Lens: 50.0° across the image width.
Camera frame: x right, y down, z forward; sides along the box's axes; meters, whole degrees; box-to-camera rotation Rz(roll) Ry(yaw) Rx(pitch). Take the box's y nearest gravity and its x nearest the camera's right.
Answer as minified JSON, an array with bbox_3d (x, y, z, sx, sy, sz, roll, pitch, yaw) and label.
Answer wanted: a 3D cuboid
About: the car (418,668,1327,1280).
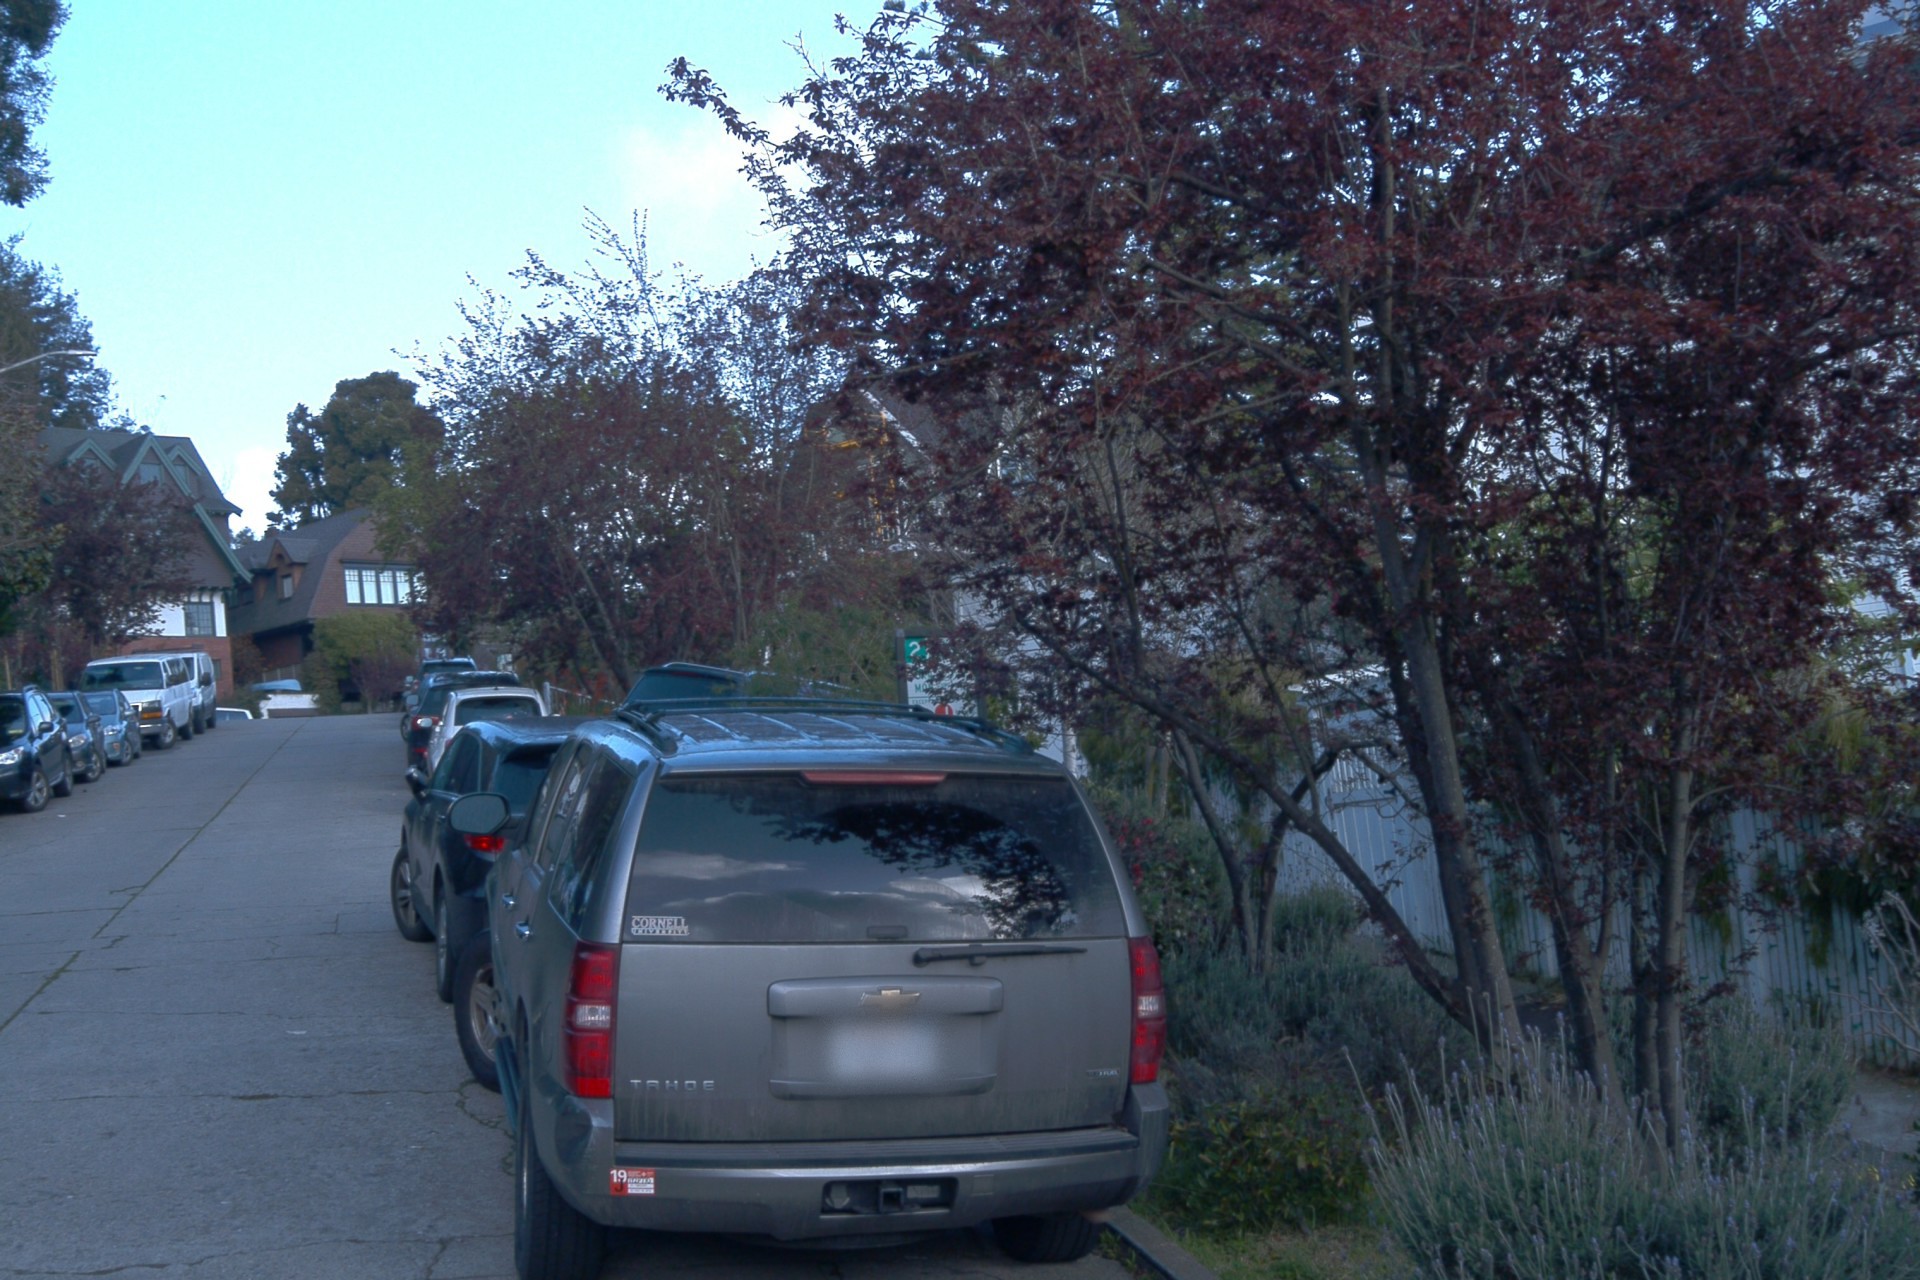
[{"bbox_3d":[-0.837,1.152,8.426,2.552,2.010,5.244,0,0,-16],"label":"car"}]

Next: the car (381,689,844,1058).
[{"bbox_3d":[-2.512,1.284,13.511,2.261,1.805,5.057,0,0,-18],"label":"car"}]

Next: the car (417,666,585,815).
[{"bbox_3d":[-5.863,1.203,26.042,1.796,1.690,3.713,0,0,-17],"label":"car"}]

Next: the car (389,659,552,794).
[{"bbox_3d":[-7.237,1.209,30.691,2.178,1.798,4.801,0,0,-12],"label":"car"}]
